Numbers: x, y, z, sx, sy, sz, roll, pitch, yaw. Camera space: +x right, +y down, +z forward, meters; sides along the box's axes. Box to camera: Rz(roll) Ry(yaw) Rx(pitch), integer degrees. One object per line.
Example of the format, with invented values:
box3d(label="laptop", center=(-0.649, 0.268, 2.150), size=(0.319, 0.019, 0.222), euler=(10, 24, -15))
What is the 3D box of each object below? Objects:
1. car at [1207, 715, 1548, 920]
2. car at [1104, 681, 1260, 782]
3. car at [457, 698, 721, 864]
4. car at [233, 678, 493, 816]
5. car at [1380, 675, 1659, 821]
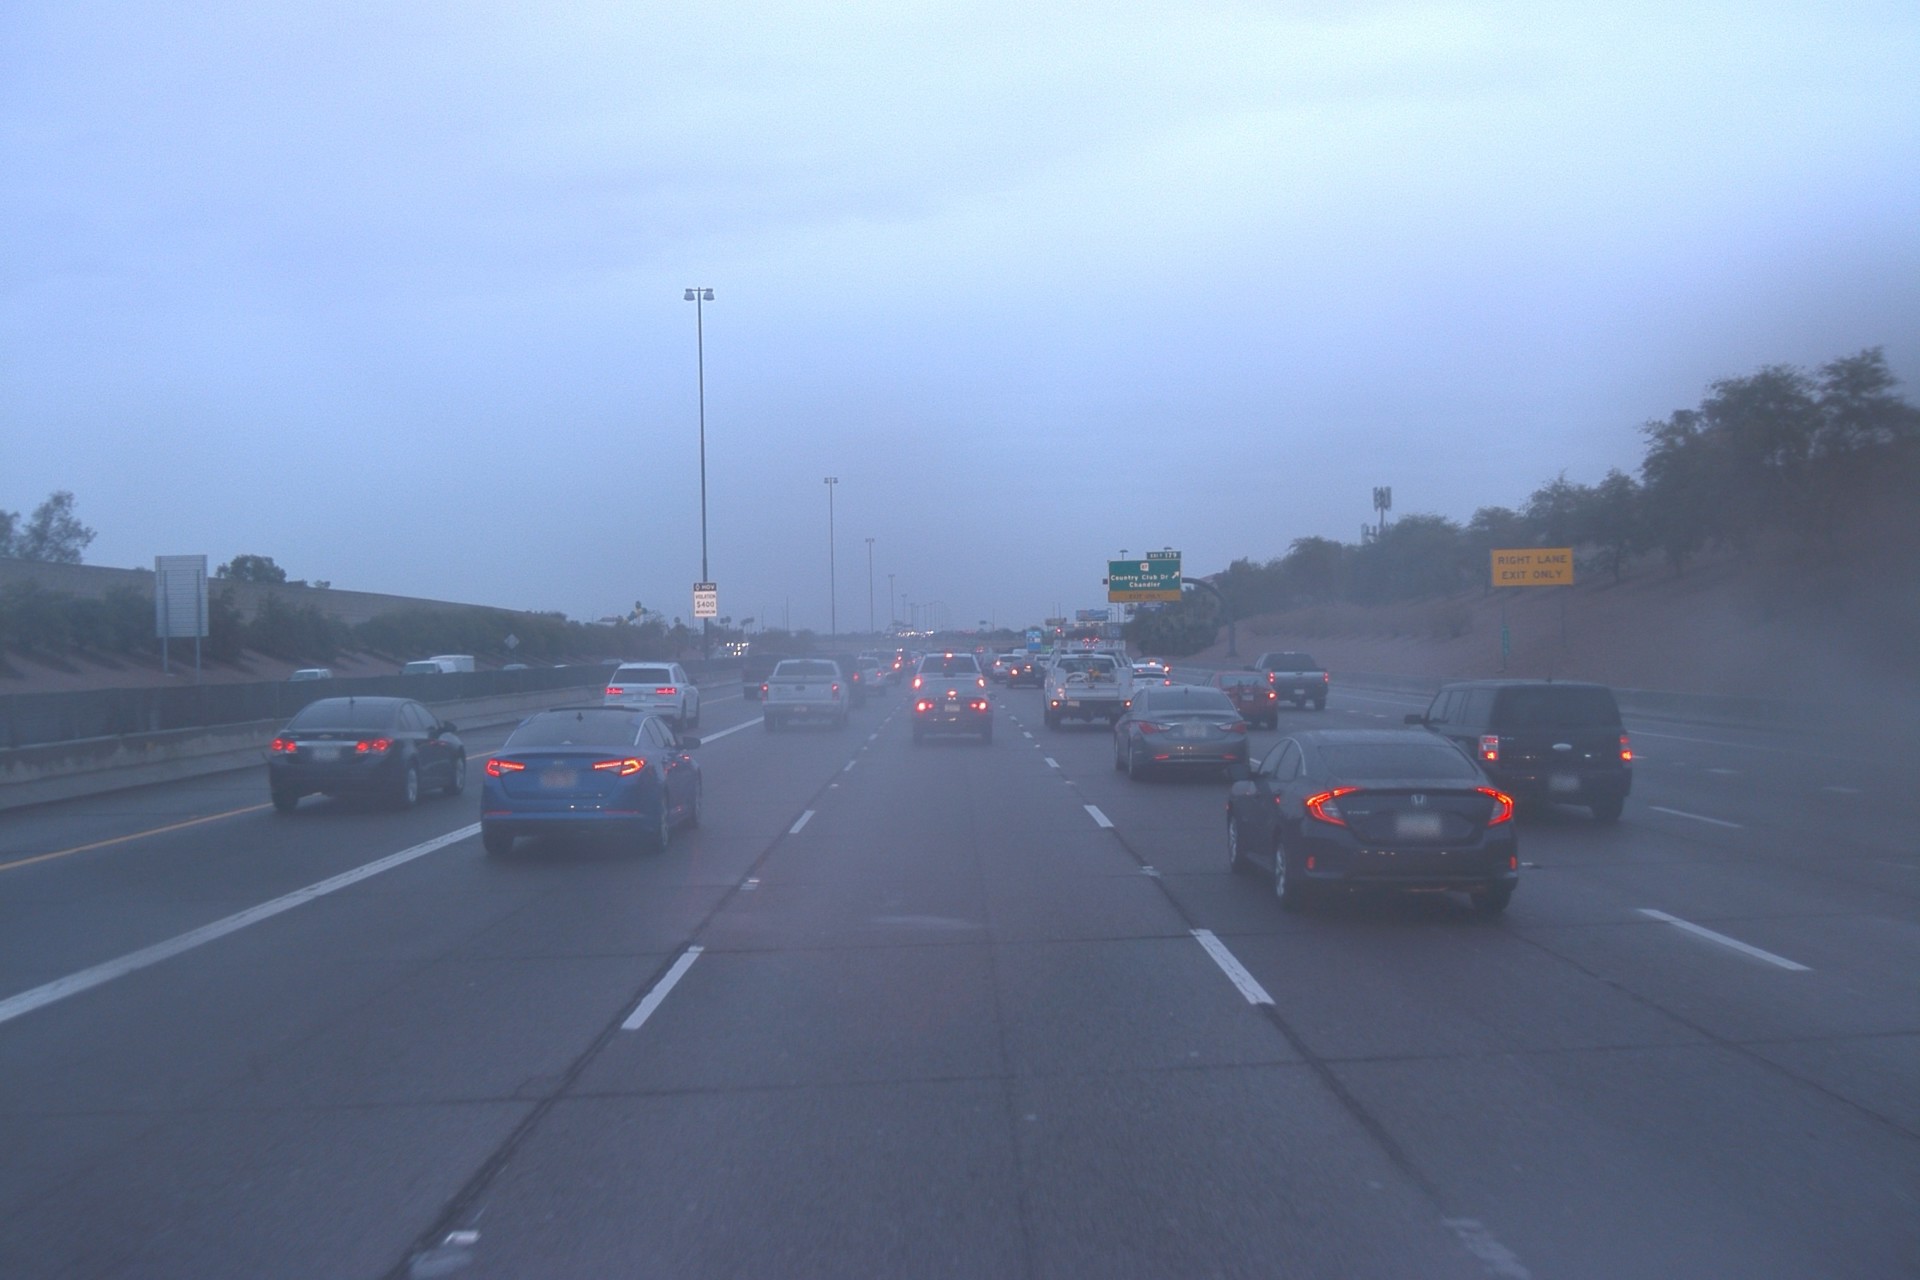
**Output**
box3d(label="car", center=(3.351, 1.394, 17.542), size=(1.973, 1.380, 4.335), euler=(0, 0, 0))
box3d(label="car", center=(3.480, 1.421, 33.395), size=(2.017, 1.450, 4.379), euler=(0, 0, 0))
box3d(label="car", center=(-3.856, 1.429, 22.383), size=(1.988, 1.510, 4.517), euler=(0, 0, 1))
box3d(label="car", center=(-7.952, 1.370, 28.164), size=(2.177, 1.650, 4.773), euler=(0, 0, 0))
box3d(label="car", center=(6.934, 1.285, 26.353), size=(2.228, 1.630, 4.896), euler=(0, 0, 0))
